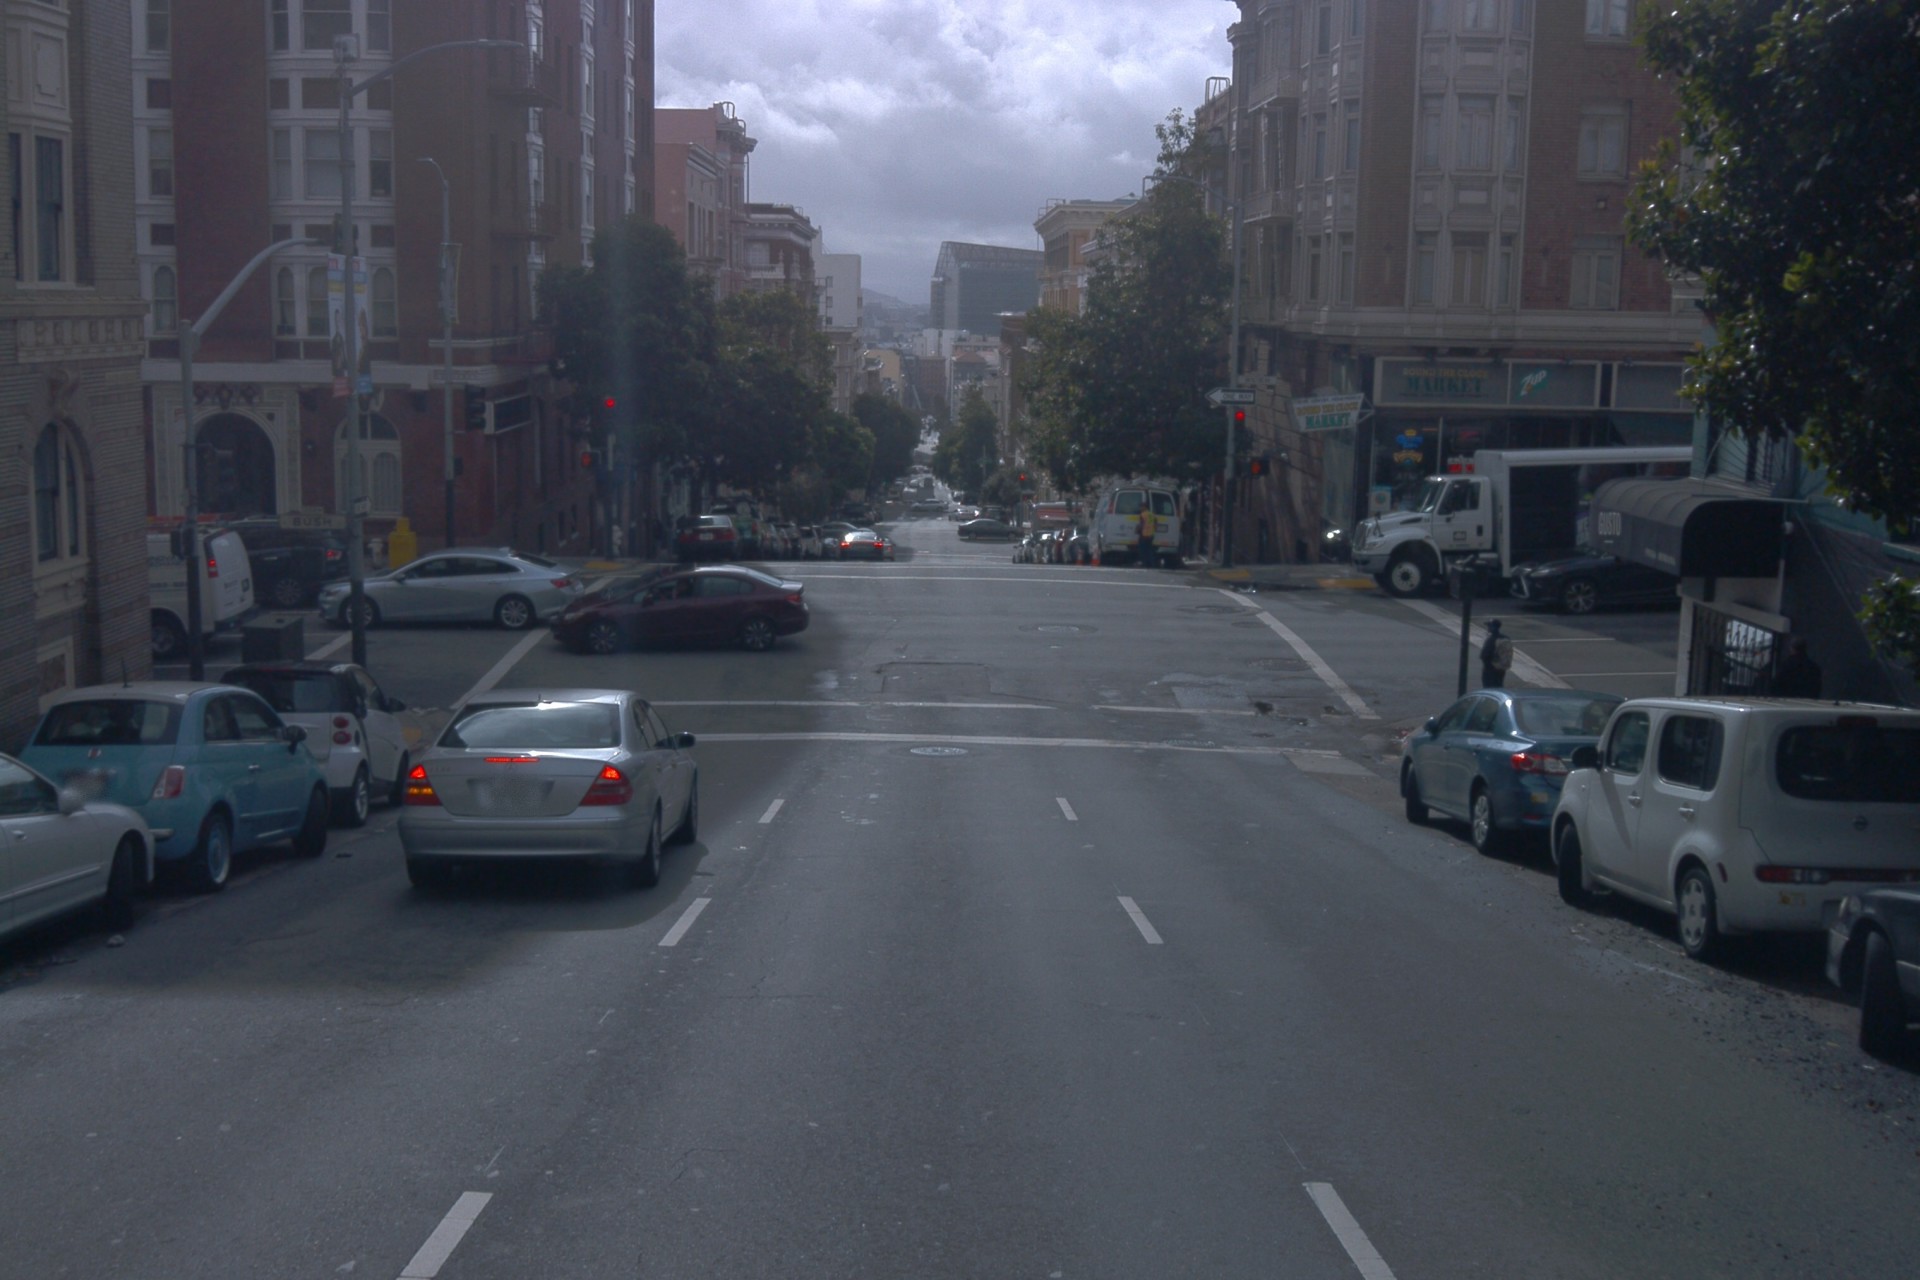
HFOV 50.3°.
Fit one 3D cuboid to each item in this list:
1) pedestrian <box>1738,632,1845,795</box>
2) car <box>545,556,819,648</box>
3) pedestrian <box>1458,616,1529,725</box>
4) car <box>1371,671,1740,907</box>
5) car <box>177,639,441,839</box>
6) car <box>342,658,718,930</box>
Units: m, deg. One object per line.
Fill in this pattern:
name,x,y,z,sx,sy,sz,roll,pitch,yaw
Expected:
pedestrian,9.440,0.820,23.233,0.852,1.800,0.770,1,1,0
car,-4.879,-0.662,36.064,4.627,1.479,2.033,1,1,-7
pedestrian,7.970,0.440,30.572,0.752,1.590,0.926,1,1,-2
car,5.405,1.273,19.253,2.011,1.800,4.510,1,1,-2
car,-6.248,0.902,19.930,1.776,1.740,2.835,1,1,-3
car,-3.183,1.066,16.173,2.074,1.700,4.689,1,1,-2
